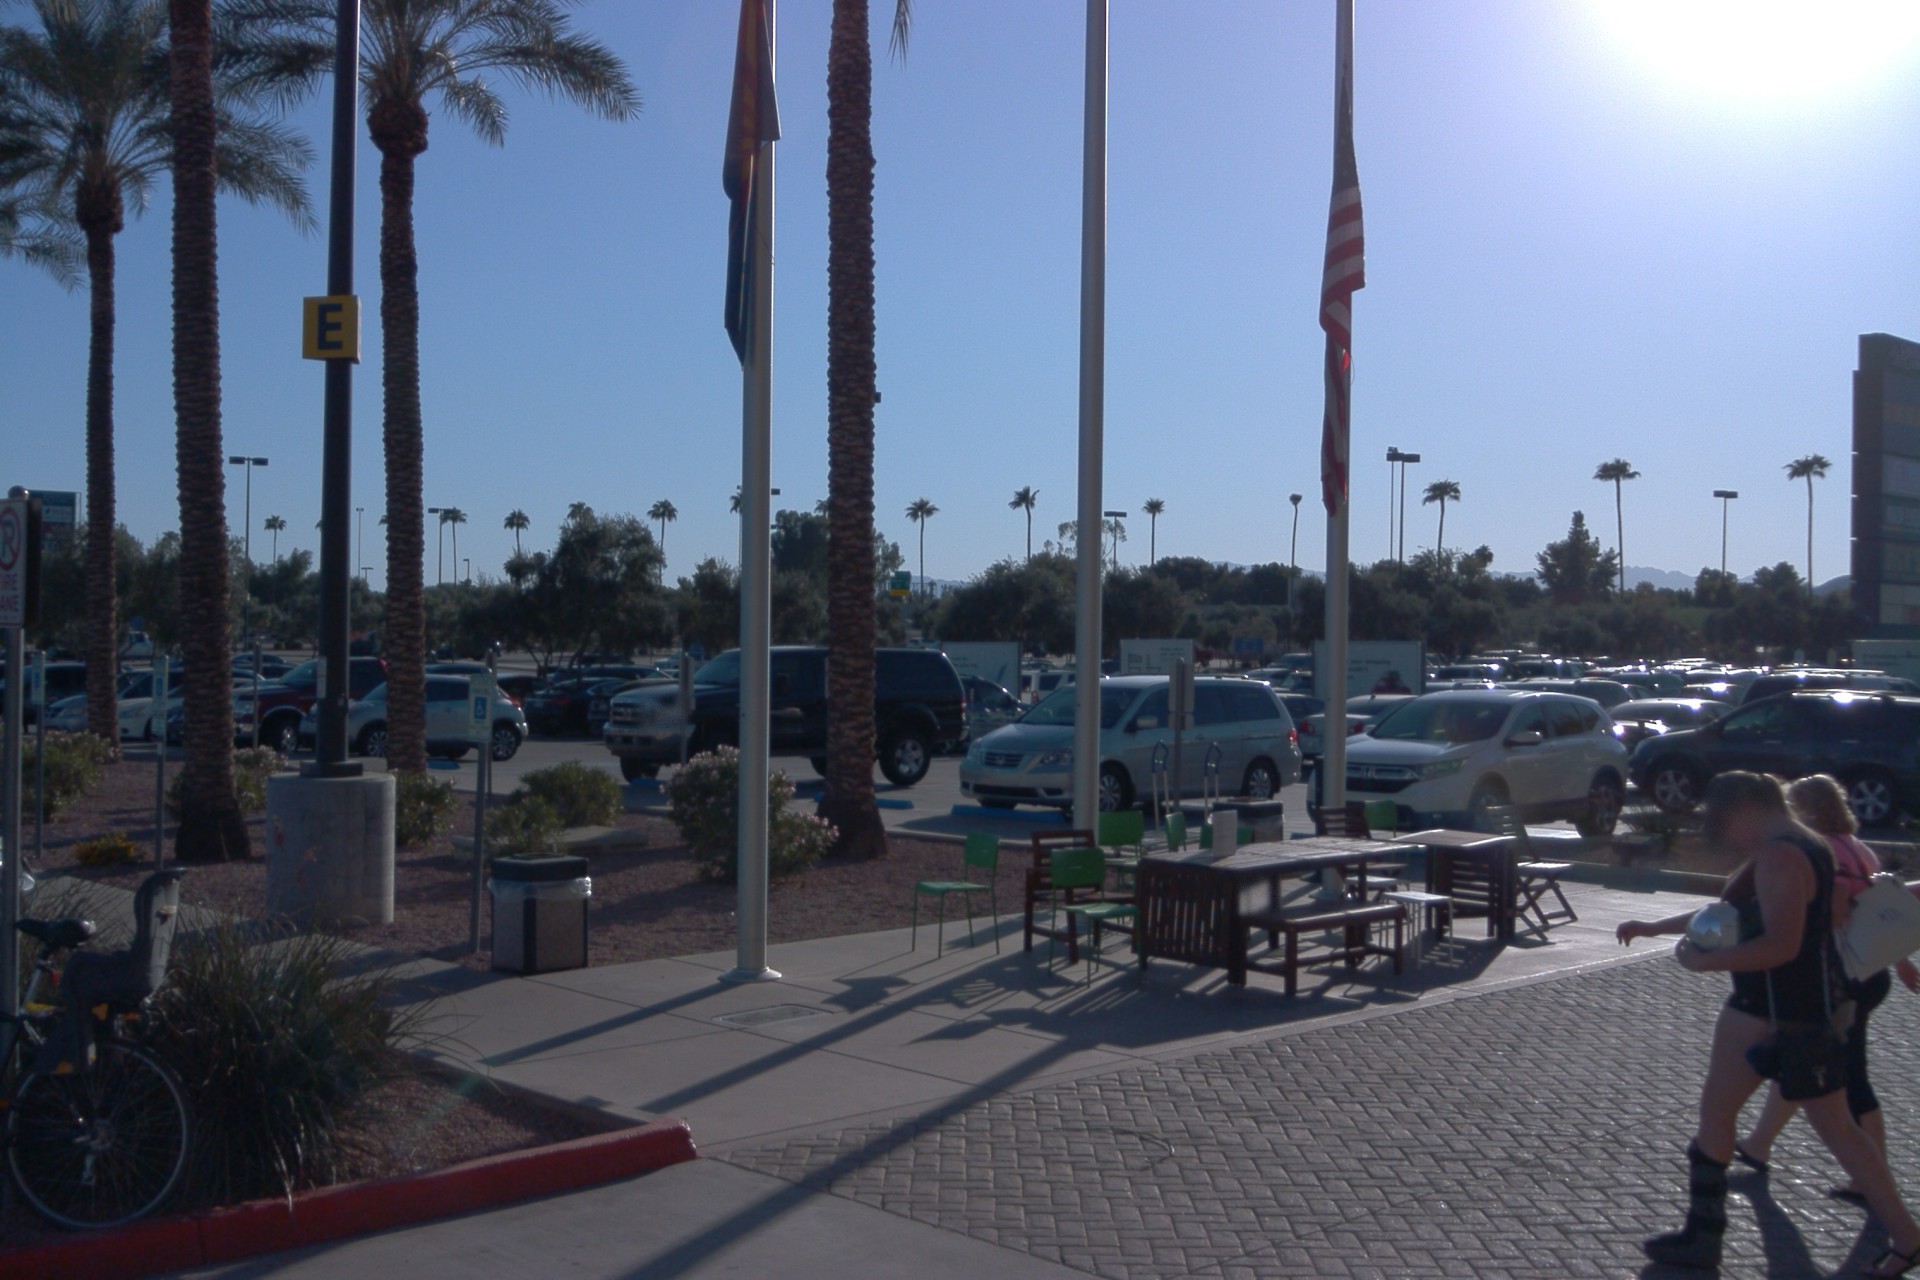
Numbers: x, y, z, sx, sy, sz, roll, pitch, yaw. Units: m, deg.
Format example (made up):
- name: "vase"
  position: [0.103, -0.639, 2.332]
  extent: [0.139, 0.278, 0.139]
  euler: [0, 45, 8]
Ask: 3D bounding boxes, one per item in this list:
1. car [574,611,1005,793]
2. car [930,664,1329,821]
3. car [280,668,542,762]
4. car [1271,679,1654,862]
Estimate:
- name: "car"
  position: [-2.471, 0.864, 31.323]
  extent: [6.160, 2.490, 2.672]
  euler: [1, 0, -43]
- name: "car"
  position: [2.282, 1.218, 26.489]
  extent: [2.246, 1.780, 5.286]
  euler: [0, 0, 44]
- name: "car"
  position: [-9.800, 1.302, 37.066]
  extent: [1.967, 1.550, 4.106]
  euler: [0, 0, 44]
- name: "car"
  position: [5.567, 1.317, 22.502]
  extent: [2.159, 1.710, 4.564]
  euler: [0, 0, 41]
